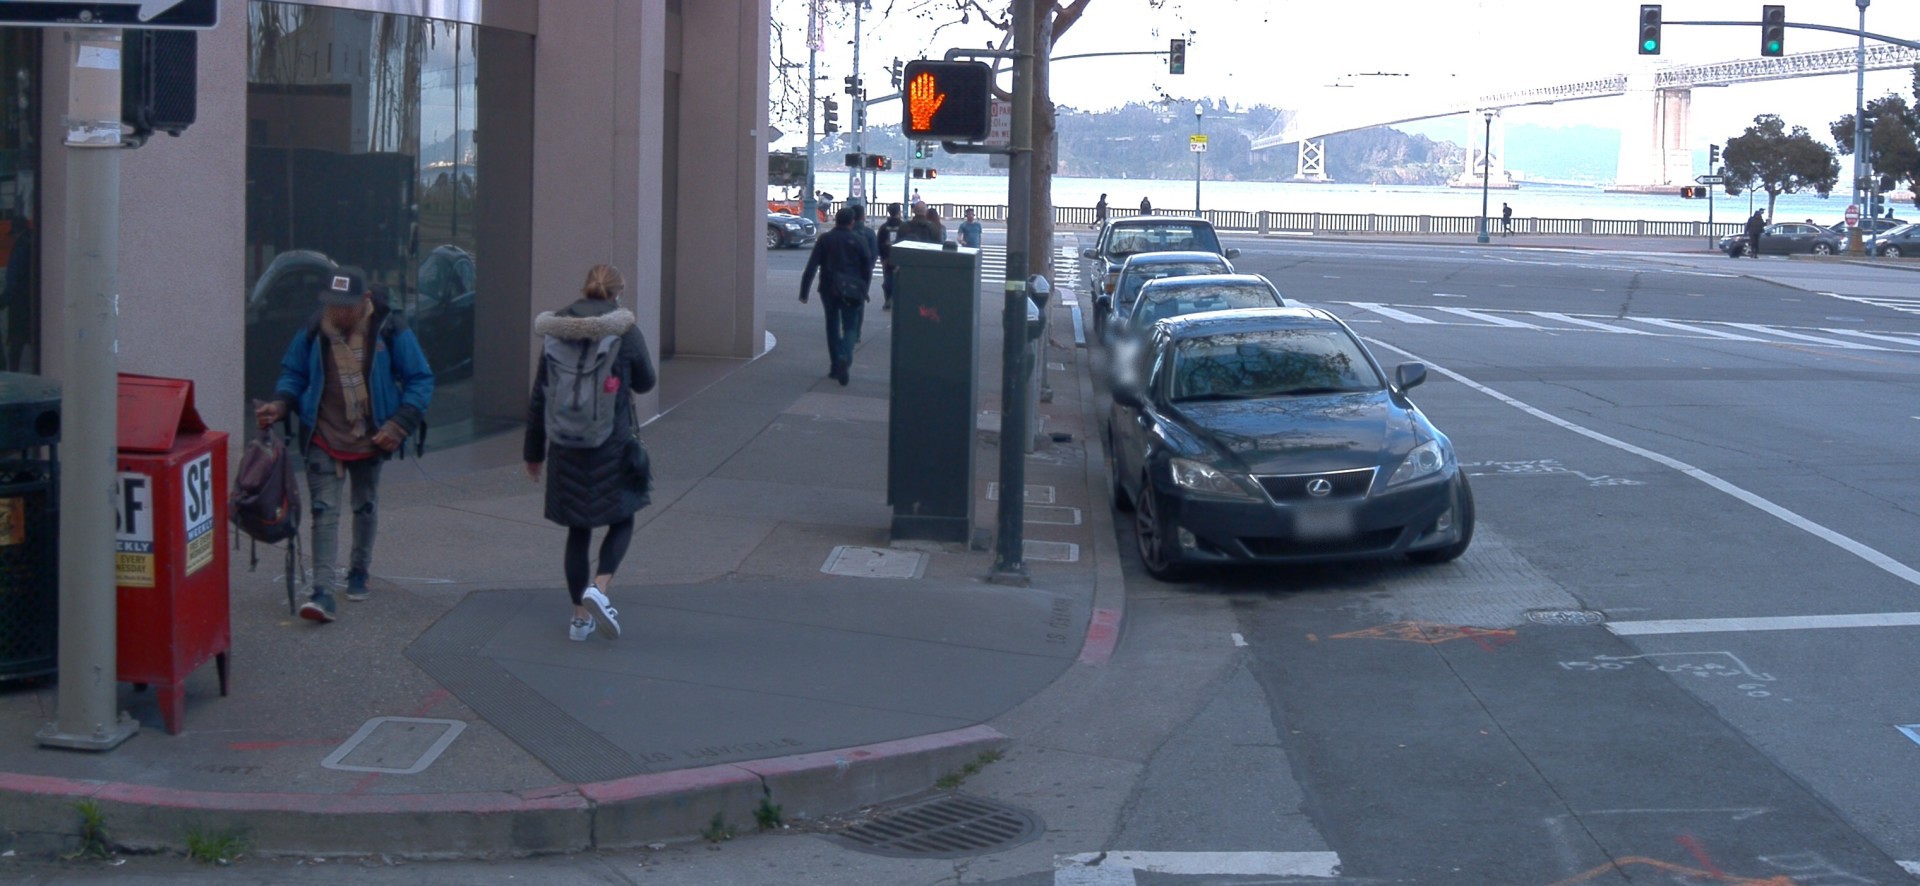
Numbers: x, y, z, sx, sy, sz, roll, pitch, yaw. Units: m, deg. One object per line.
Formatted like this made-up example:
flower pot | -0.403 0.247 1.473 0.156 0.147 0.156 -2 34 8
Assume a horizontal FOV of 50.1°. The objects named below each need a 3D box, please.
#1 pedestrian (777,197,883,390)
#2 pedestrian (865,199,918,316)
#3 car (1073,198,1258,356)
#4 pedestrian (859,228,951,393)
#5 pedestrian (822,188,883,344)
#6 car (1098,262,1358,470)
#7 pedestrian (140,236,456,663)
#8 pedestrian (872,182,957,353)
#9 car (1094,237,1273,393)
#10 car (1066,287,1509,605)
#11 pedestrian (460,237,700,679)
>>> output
pedestrian | -1.280 -1.524 20.526 0.961 1.865 1.349 0 3 0
pedestrian | -1.103 -3.006 33.081 0.841 1.855 0.774 0 2 -3
car | 3.042 -2.642 31.526 2.438 2.218 4.887 0 6 1
pedestrian | -0.533 -1.338 20.442 0.873 1.586 1.034 0 3 1
pedestrian | -1.325 -2.186 25.158 0.733 1.865 0.947 0 3 -4
car | 2.398 -0.846 19.251 2.122 1.531 4.772 0 6 5
pedestrian | -2.945 -0.038 9.298 1.182 1.764 1.184 0 3 -9
pedestrian | -0.575 -2.198 25.439 1.012 2.044 1.356 0 3 -3
car | 2.603 -1.622 24.743 1.889 1.641 4.066 0 6 3
car | 1.891 -0.165 13.462 2.078 1.501 4.783 0 6 -1
pedestrian | -1.643 0.008 9.060 0.806 1.805 1.093 0 3 3
